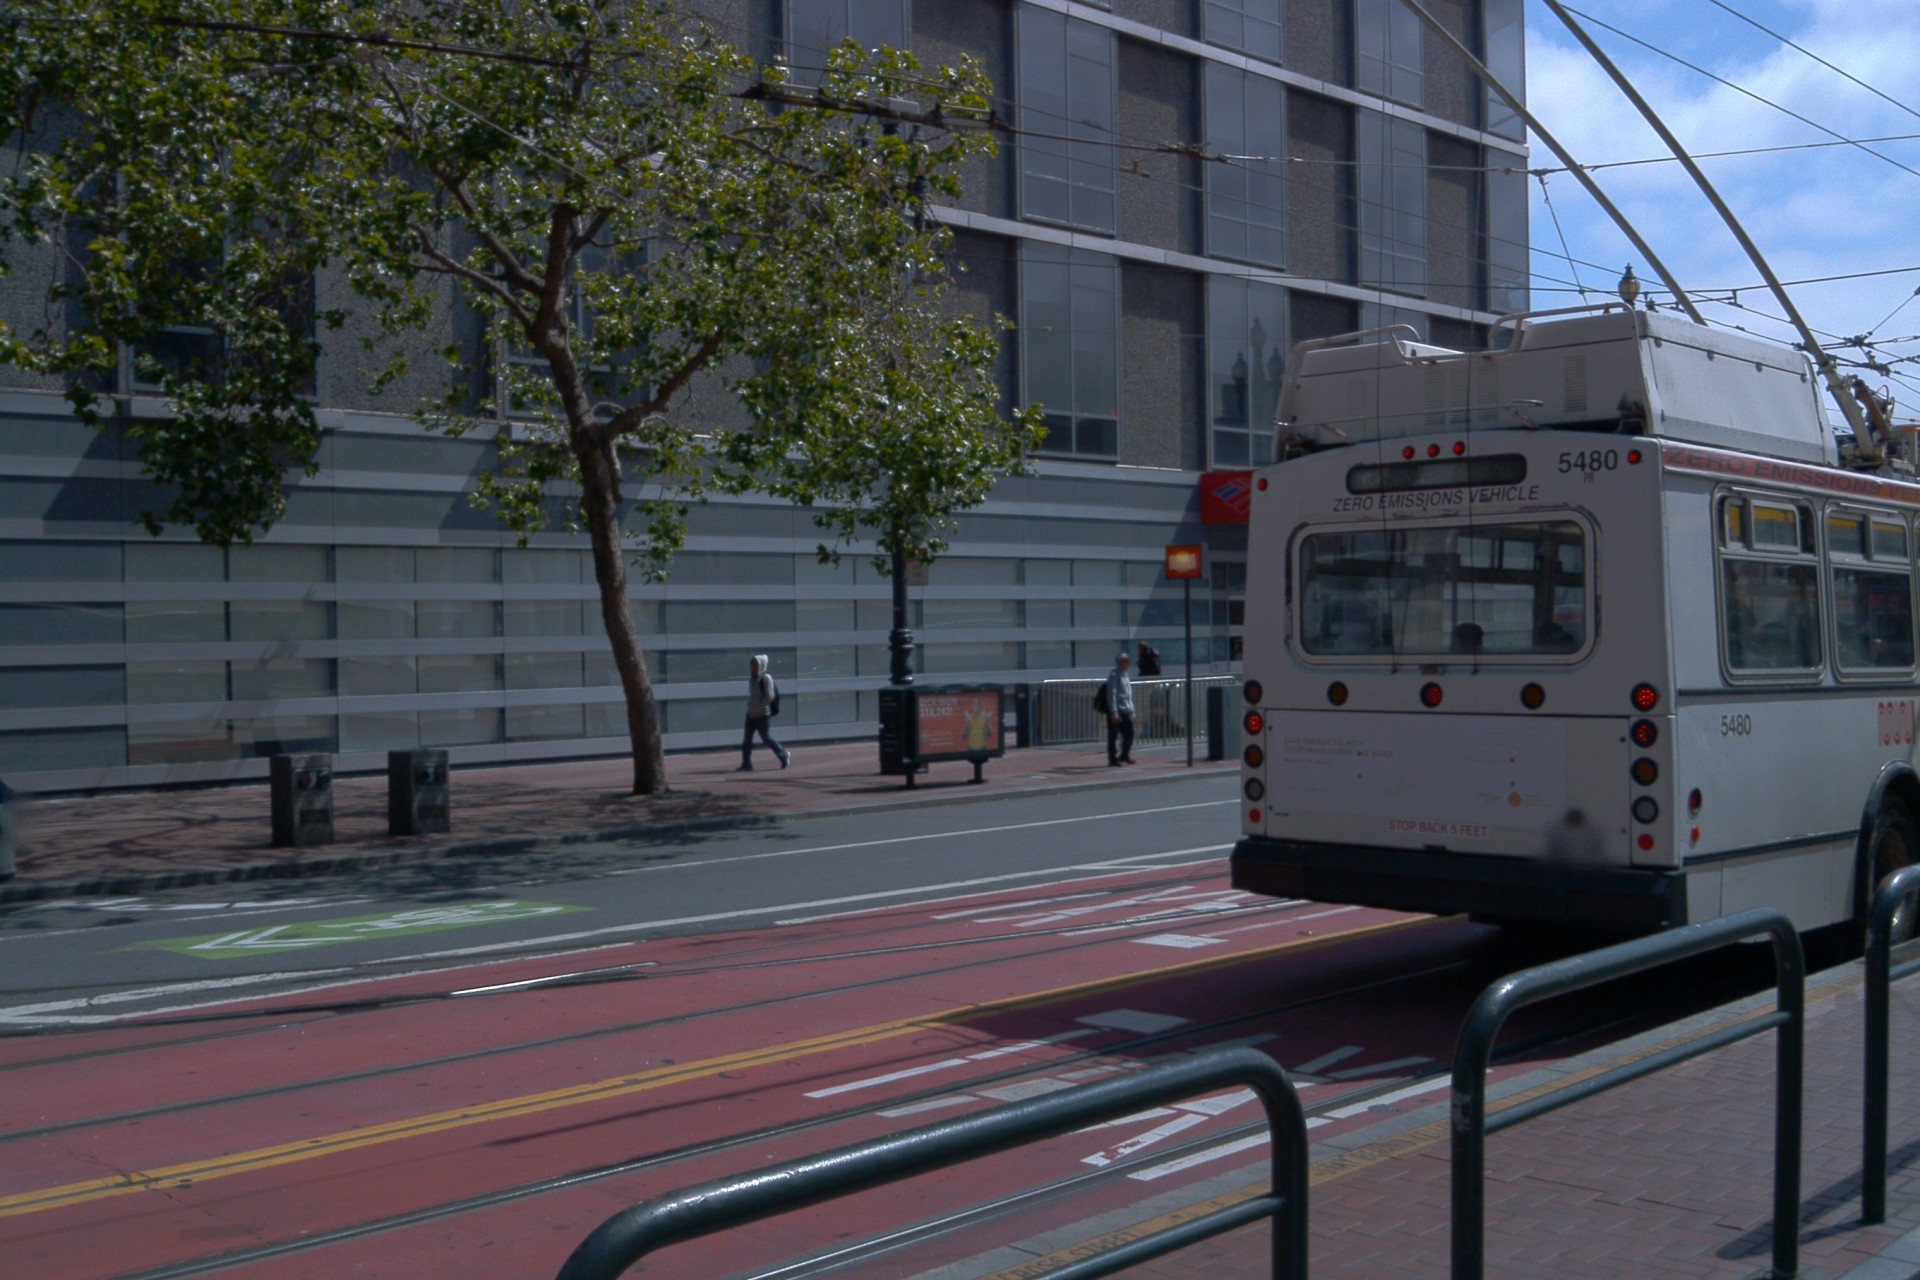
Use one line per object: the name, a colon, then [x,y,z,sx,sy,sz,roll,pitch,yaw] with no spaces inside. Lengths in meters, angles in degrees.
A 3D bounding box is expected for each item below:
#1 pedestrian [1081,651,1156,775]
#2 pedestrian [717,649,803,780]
pedestrian: [2.319,1.051,30.173,0.725,1.770,0.806,-1,1,-42]
pedestrian: [-2.874,1.051,29.623,0.978,1.810,0.733,-1,1,-43]
